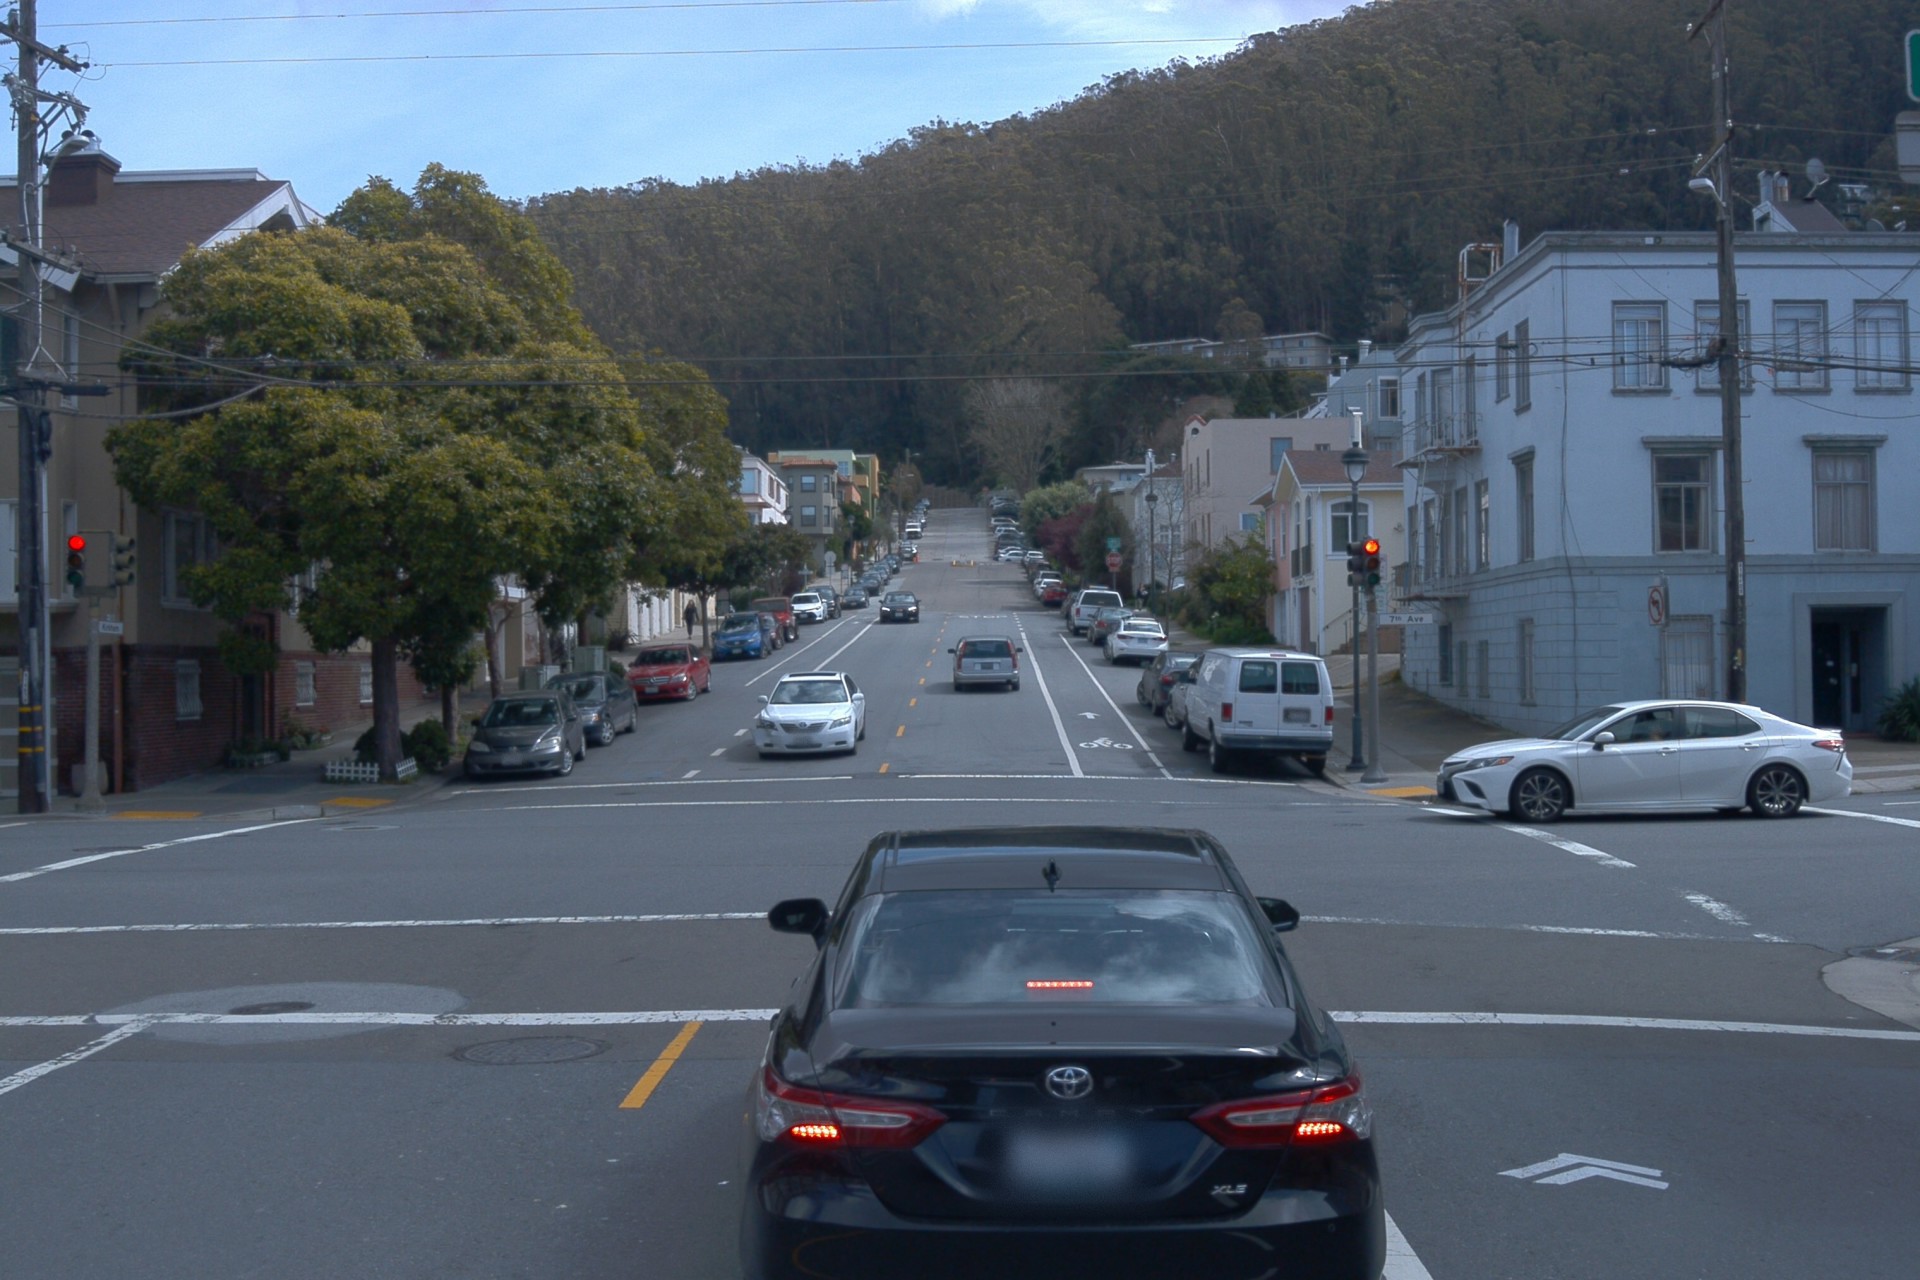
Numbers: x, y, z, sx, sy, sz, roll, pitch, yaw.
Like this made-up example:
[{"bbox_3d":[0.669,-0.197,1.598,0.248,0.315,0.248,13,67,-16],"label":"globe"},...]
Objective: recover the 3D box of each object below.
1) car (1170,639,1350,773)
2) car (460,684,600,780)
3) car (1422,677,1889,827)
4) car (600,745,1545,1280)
[{"bbox_3d":[5.312,1.112,37.234,2.299,2.250,5.313,0,0,-2],"label":"car"},{"bbox_3d":[-7.707,1.617,37.254,1.836,1.560,4.133,0,0,-3],"label":"car"},{"bbox_3d":[8.264,1.308,24.843,4.937,1.690,2.136,0,0,1],"label":"car"},{"bbox_3d":[0.282,1.303,7.305,2.249,1.620,4.798,0,0,0],"label":"car"}]
